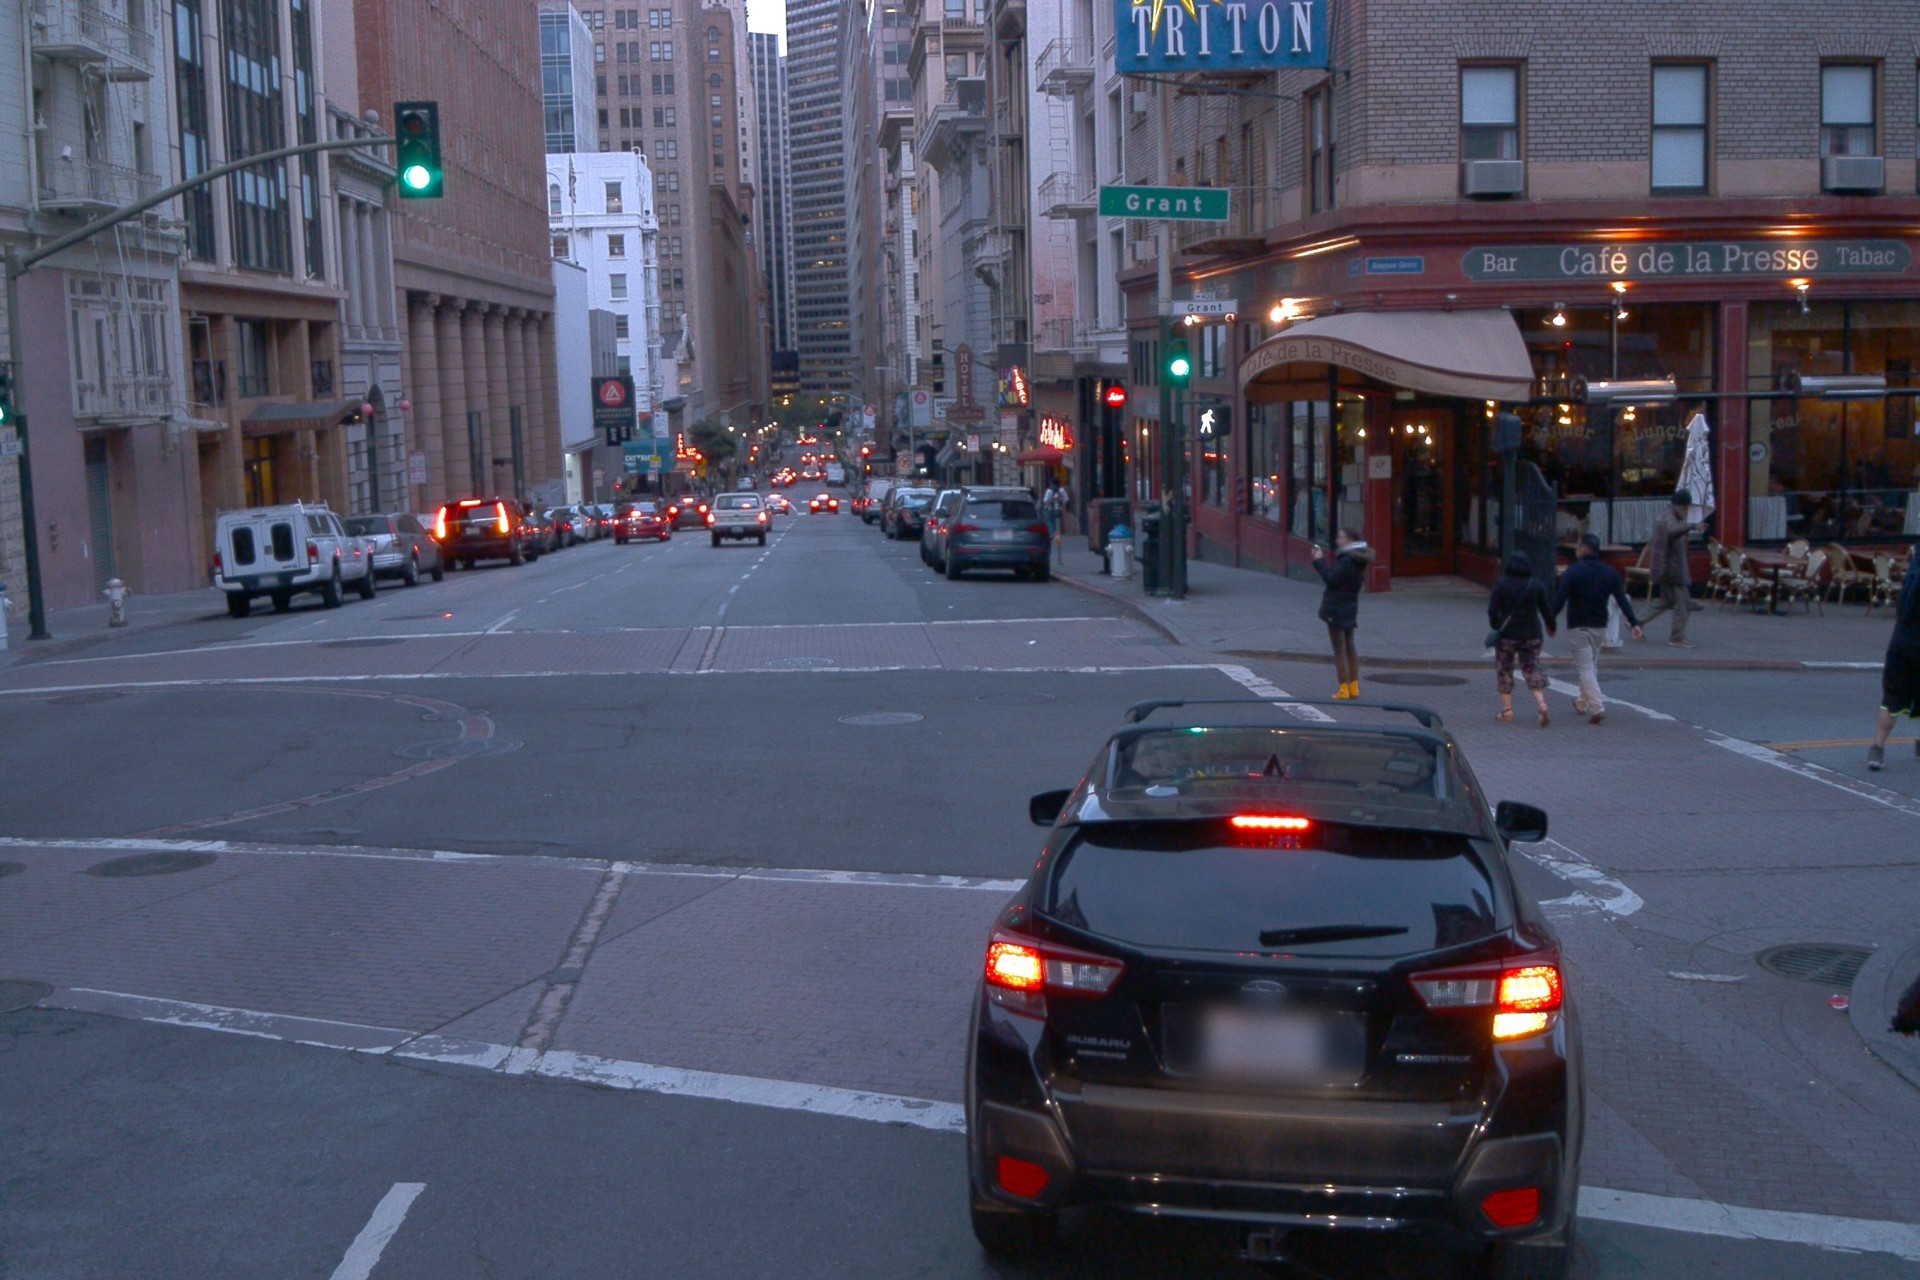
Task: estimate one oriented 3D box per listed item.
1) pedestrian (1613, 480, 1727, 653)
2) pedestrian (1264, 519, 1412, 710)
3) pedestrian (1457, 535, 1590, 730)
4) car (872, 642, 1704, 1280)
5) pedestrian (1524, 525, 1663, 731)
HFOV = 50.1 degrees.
[{"bbox_3d":[8.047,-0.816,23.357,1.111,1.906,1.189,0,1,14],"label":"pedestrian"},{"bbox_3d":[3.608,-0.244,19.640,0.901,1.756,1.068,-1,1,-44],"label":"pedestrian"},{"bbox_3d":[4.926,-0.073,18.024,0.765,1.656,0.959,0,1,-12],"label":"pedestrian"},{"bbox_3d":[1.154,0.999,7.536,2.137,1.920,4.408,0,1,9],"label":"car"},{"bbox_3d":[5.600,-0.111,18.209,0.839,1.766,0.956,0,1,-8],"label":"pedestrian"}]
